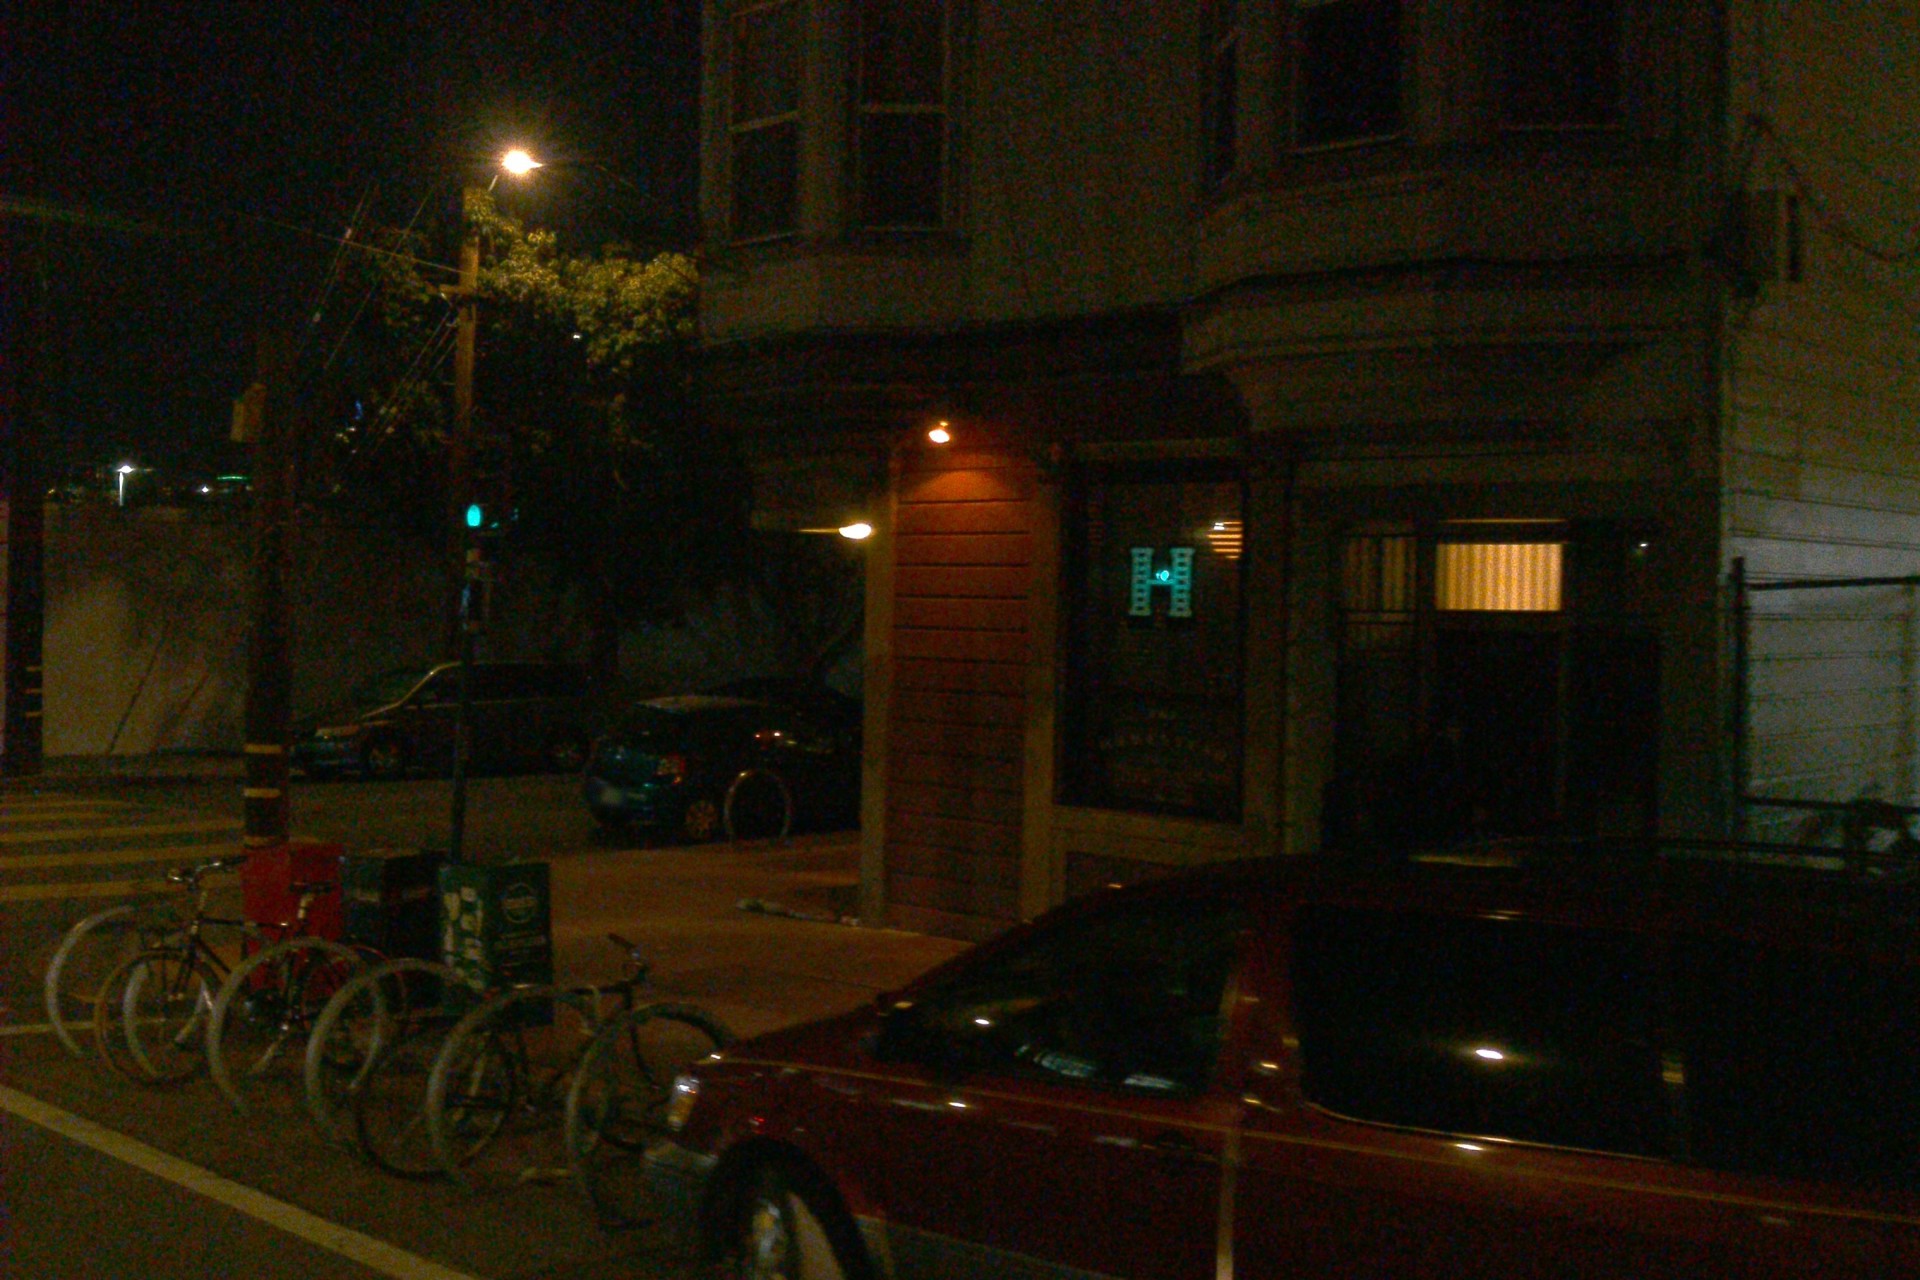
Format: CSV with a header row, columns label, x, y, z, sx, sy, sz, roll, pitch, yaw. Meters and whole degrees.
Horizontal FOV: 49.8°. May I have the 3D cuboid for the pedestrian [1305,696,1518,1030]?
label,x,y,z,sx,sy,sz,roll,pitch,yaw
pedestrian,2.563,1.225,11.786,0.856,1.799,0.785,0,0,-28

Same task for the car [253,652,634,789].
label,x,y,z,sx,sy,sz,roll,pitch,yaw
car,-7.524,1.124,30.524,2.098,1.850,5.086,0,-1,45

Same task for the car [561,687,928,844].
label,x,y,z,sx,sy,sz,roll,pitch,yaw
car,-2.374,1.345,23.387,3.809,1.590,1.825,1,-1,-44

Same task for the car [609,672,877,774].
label,x,y,z,sx,sy,sz,roll,pitch,yaw
car,-3.578,1.330,34.506,4.081,1.590,1.898,1,-1,-42
